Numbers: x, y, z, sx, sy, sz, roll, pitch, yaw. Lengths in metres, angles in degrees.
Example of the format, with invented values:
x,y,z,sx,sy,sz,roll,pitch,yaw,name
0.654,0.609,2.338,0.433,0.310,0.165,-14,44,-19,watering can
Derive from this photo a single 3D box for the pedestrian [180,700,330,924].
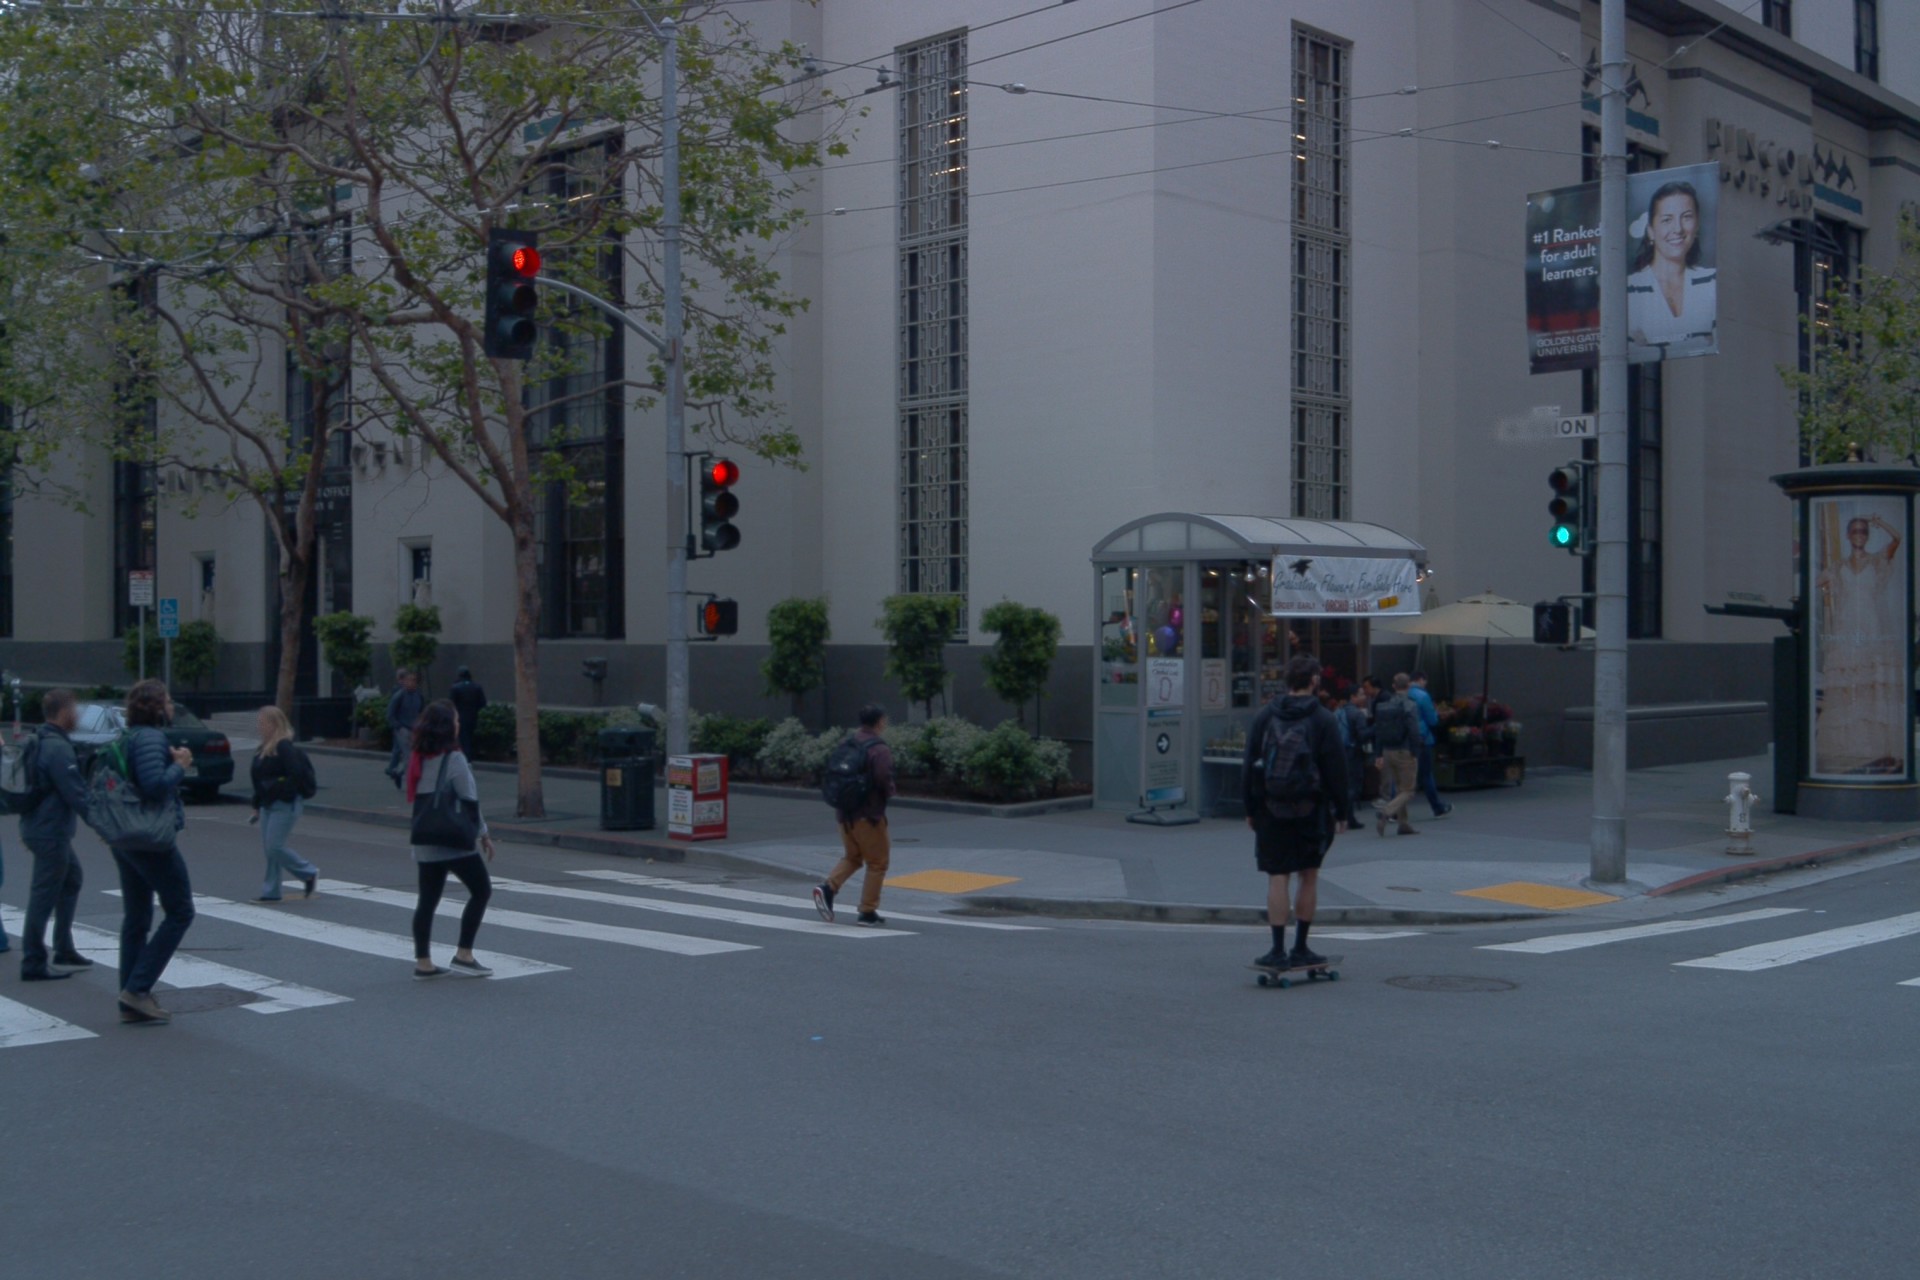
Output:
x,y,z,sx,sy,sz,roll,pitch,yaw,name
-5.531,1.320,16.194,0.894,1.646,0.735,-1,1,-42,pedestrian

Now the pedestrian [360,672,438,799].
x,y,z,sx,sy,sz,roll,pitch,yaw,name
-7.912,1.334,29.095,0.726,1.726,0.865,-1,1,-45,pedestrian

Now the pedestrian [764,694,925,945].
x,y,z,sx,sy,sz,roll,pitch,yaw,name
-0.866,1.317,15.517,0.964,1.771,0.716,-1,1,-43,pedestrian

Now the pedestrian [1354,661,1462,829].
x,y,z,sx,sy,sz,roll,pitch,yaw,name
5.258,1.206,24.222,0.984,1.896,0.798,-1,1,-41,pedestrian

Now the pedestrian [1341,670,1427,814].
x,y,z,sx,sy,sz,roll,pitch,yaw,name
5.336,1.265,25.975,0.751,1.746,0.848,1,1,40,pedestrian

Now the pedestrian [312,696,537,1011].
x,y,z,sx,sy,sz,roll,pitch,yaw,name
-3.210,1.232,12.387,1.044,1.739,0.795,-1,1,-43,pedestrian

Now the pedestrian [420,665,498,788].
x,y,z,sx,sy,sz,roll,pitch,yaw,name
-7.638,1.302,31.471,0.757,1.796,0.983,-1,1,-43,pedestrian

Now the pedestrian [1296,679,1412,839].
x,y,z,sx,sy,sz,roll,pitch,yaw,name
4.418,1.315,23.150,0.974,1.706,0.840,-1,1,-35,pedestrian

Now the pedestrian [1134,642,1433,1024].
x,y,z,sx,sy,sz,roll,pitch,yaw,name
1.974,1.082,12.506,1.097,2.118,1.544,1,1,44,pedestrian

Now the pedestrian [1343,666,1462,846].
x,y,z,sx,sy,sz,roll,pitch,yaw,name
4.863,1.246,22.699,1.051,1.896,0.762,-1,1,-33,pedestrian
